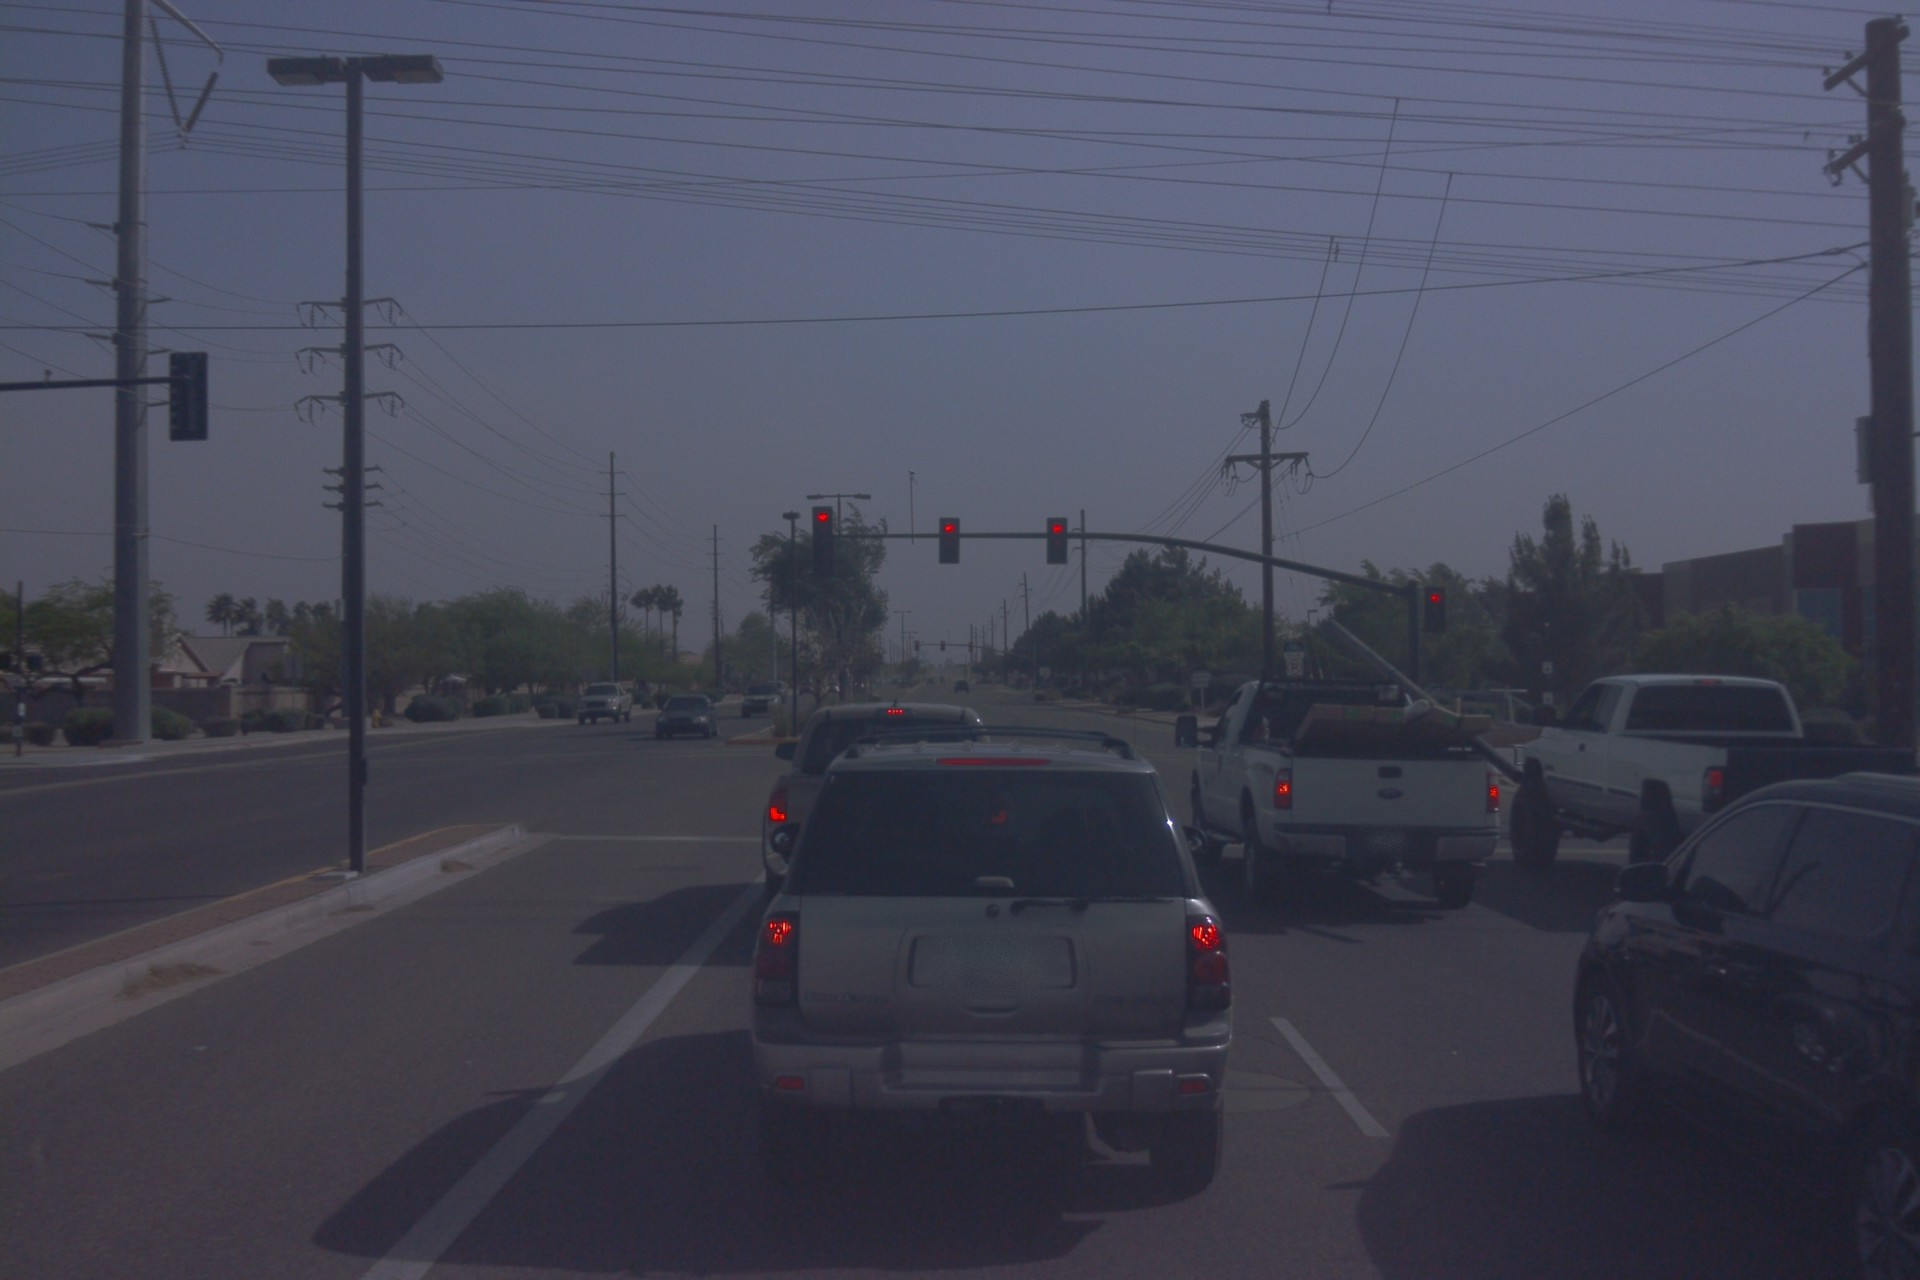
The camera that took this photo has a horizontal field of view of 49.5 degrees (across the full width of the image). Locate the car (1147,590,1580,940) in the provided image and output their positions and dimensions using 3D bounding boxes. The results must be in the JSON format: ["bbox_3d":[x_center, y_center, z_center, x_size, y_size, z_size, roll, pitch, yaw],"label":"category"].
[{"bbox_3d":[3.454,1.013,19.608,2.664,2.710,6.759,0,-1,-1],"label":"car"}]

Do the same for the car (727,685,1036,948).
[{"bbox_3d":[-0.540,1.280,16.702,2.149,1.780,4.304,0,-1,0],"label":"car"}]

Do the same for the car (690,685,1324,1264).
[{"bbox_3d":[0.148,1.222,9.616,2.201,1.960,4.684,0,-1,0],"label":"car"}]
